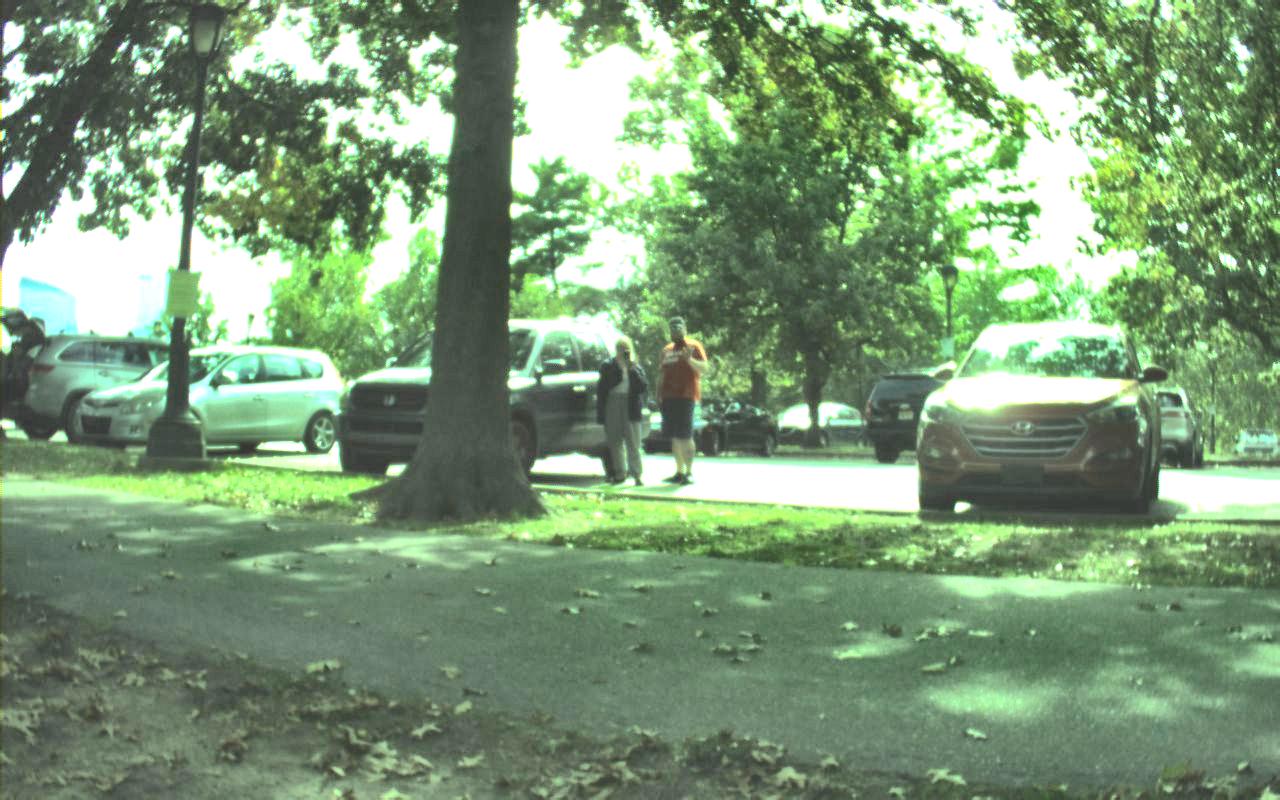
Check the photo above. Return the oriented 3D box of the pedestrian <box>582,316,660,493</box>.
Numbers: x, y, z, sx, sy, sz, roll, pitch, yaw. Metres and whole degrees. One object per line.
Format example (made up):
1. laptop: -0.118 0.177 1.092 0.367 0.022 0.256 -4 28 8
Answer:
1. pedestrian: -0.213 0.040 13.403 0.774 1.815 0.756 0 0 -5

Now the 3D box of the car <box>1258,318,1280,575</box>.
1. car: 6.076 0.280 8.592 1.950 1.596 4.478 1 1 34

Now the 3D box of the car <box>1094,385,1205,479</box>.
1. car: 10.424 0.608 23.998 1.968 1.688 4.486 1 1 28

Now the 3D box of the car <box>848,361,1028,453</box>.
1. car: 6.393 0.098 26.128 2.028 1.764 4.656 1 1 39

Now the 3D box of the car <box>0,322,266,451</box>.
1. car: -8.173 -0.197 18.229 1.980 1.814 4.588 1 1 38

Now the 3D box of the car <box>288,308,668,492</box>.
1. car: -1.557 -0.055 13.528 1.970 1.625 4.485 1 1 26

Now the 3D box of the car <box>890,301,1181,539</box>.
1. car: 3.668 0.098 10.461 1.969 1.623 4.510 1 1 26

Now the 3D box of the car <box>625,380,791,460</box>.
1. car: 1.653 0.385 29.058 1.921 1.661 4.473 1 1 31

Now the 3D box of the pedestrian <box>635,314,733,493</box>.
1. pedestrian: 0.484 0.027 13.750 0.766 1.869 0.759 1 0 32

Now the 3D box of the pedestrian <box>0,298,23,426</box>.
1. pedestrian: -9.780 -0.512 16.684 0.968 1.880 0.890 0 0 -37

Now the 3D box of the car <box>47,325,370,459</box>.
1. car: -5.945 -0.119 16.682 1.941 1.627 4.560 1 1 31
